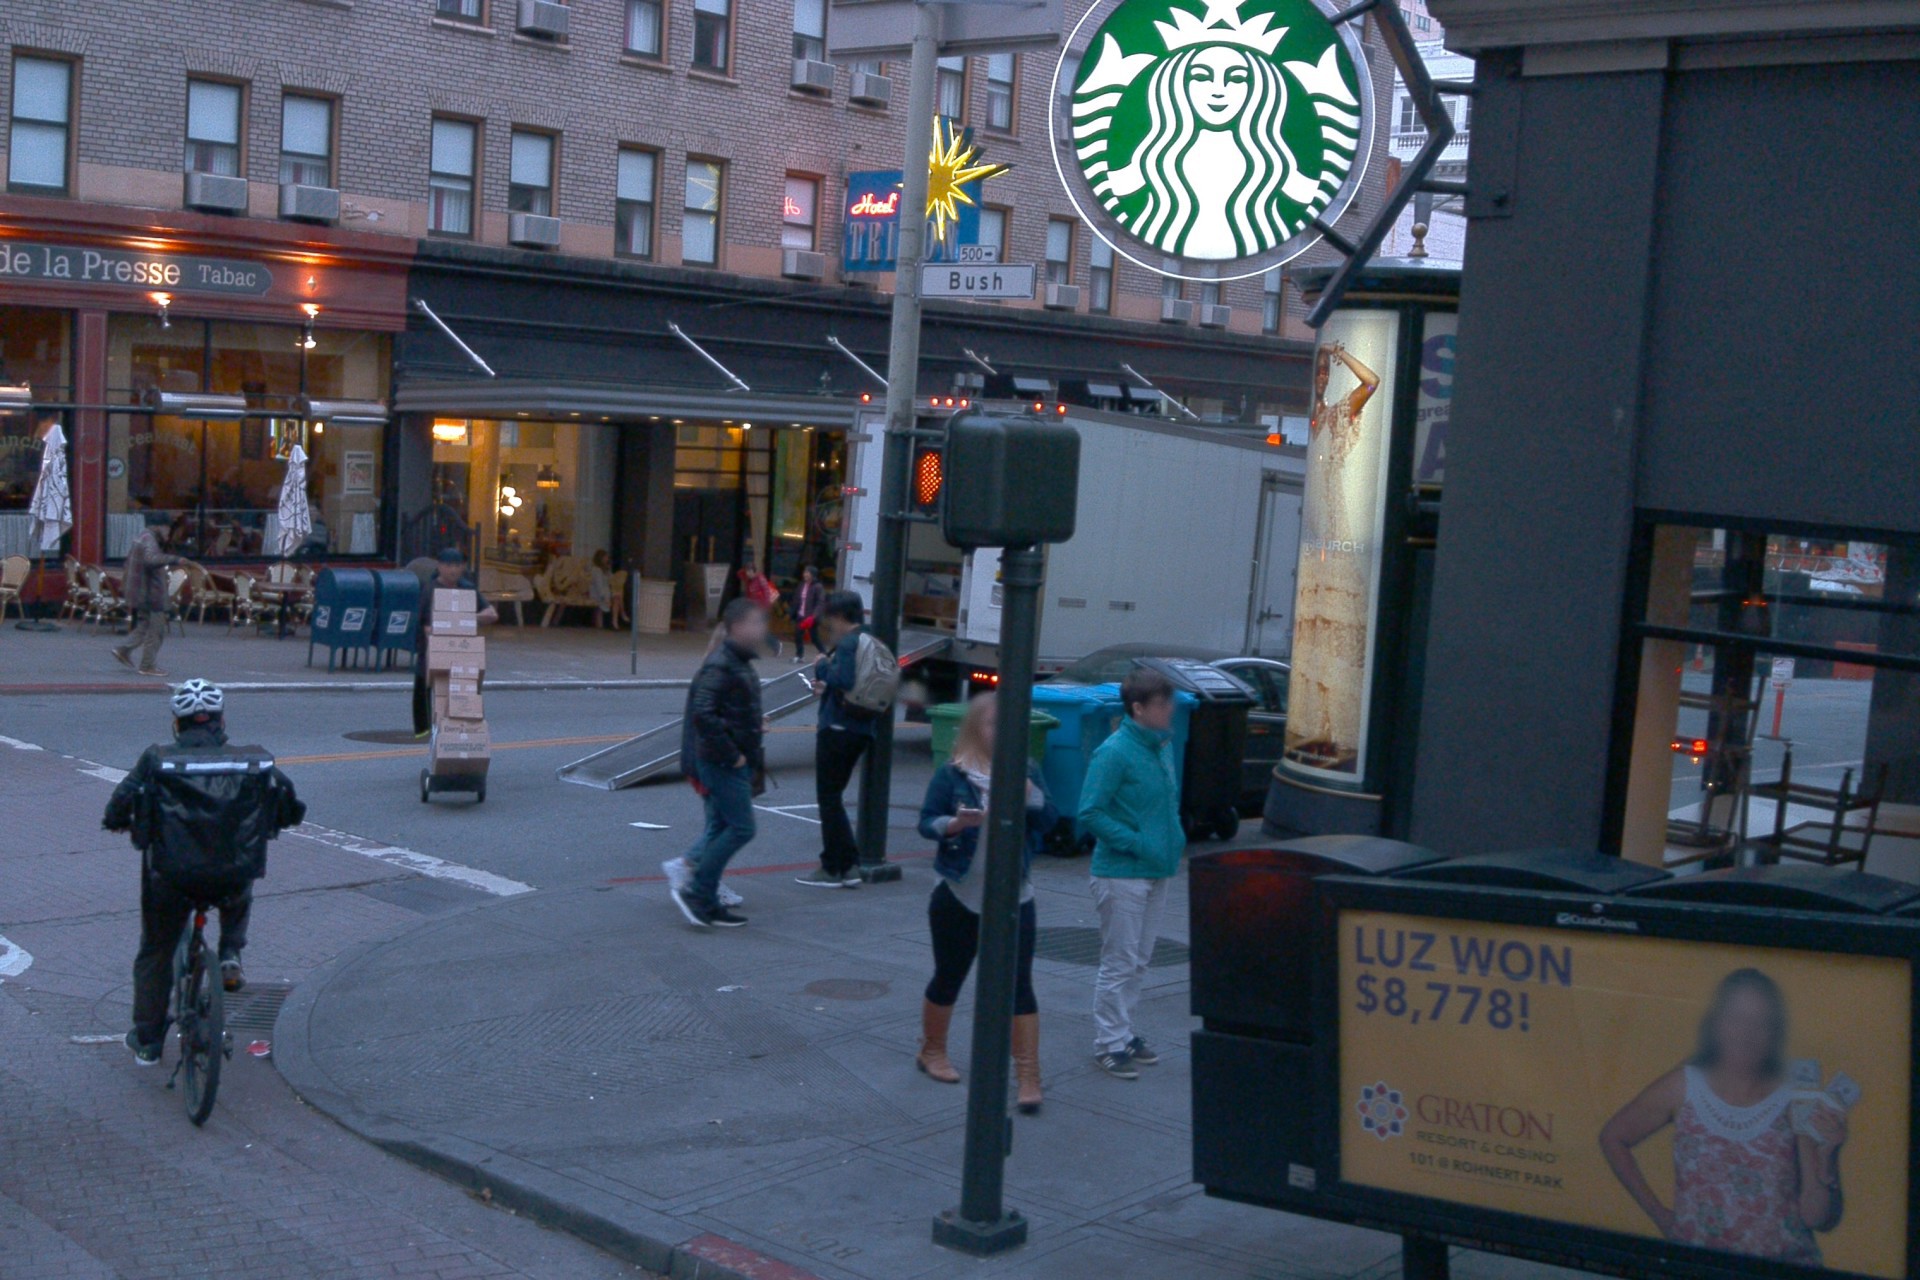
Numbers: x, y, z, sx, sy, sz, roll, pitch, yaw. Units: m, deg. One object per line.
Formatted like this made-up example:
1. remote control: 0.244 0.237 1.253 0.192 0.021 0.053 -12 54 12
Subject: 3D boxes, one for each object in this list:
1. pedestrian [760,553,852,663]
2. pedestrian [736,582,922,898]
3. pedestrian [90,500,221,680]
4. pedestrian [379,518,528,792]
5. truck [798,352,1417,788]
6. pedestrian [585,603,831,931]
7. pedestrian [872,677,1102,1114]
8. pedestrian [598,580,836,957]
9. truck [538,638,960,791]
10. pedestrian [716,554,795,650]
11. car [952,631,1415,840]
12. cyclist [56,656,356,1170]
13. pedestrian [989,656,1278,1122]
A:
1. pedestrian: -2.331 -0.478 31.103 1.031 1.631 0.911 0 0 -42
2. pedestrian: -0.781 0.564 12.230 0.885 1.796 0.674 0 0 42
3. pedestrian: -8.825 -0.537 22.530 1.103 1.906 1.198 0 0 -33
4. pedestrian: -3.997 0.106 16.164 0.972 2.060 1.138 0 0 -22
5. truck: 1.840 -0.655 21.803 2.893 3.840 7.201 0 1 40
6. pedestrian: -1.354 0.652 11.228 1.036 1.692 0.997 0 0 15
7. pedestrian: 0.087 0.947 8.050 0.678 1.570 0.902 0 0 -14
8. pedestrian: -1.229 0.628 10.562 1.065 1.851 0.842 0 0 5
9. truck: -1.707 0.578 17.829 1.006 1.154 4.038 0 1 41
10. pedestrian: -3.131 -0.576 31.487 0.912 1.441 0.811 0 0 -39
11. car: 2.078 0.717 18.012 1.948 1.570 4.382 0 1 39
12. cyclist: -3.085 0.974 8.293 0.830 1.780 1.891 0 0 -30
13. pedestrian: 0.676 0.938 8.344 0.781 1.721 1.102 0 0 -19
